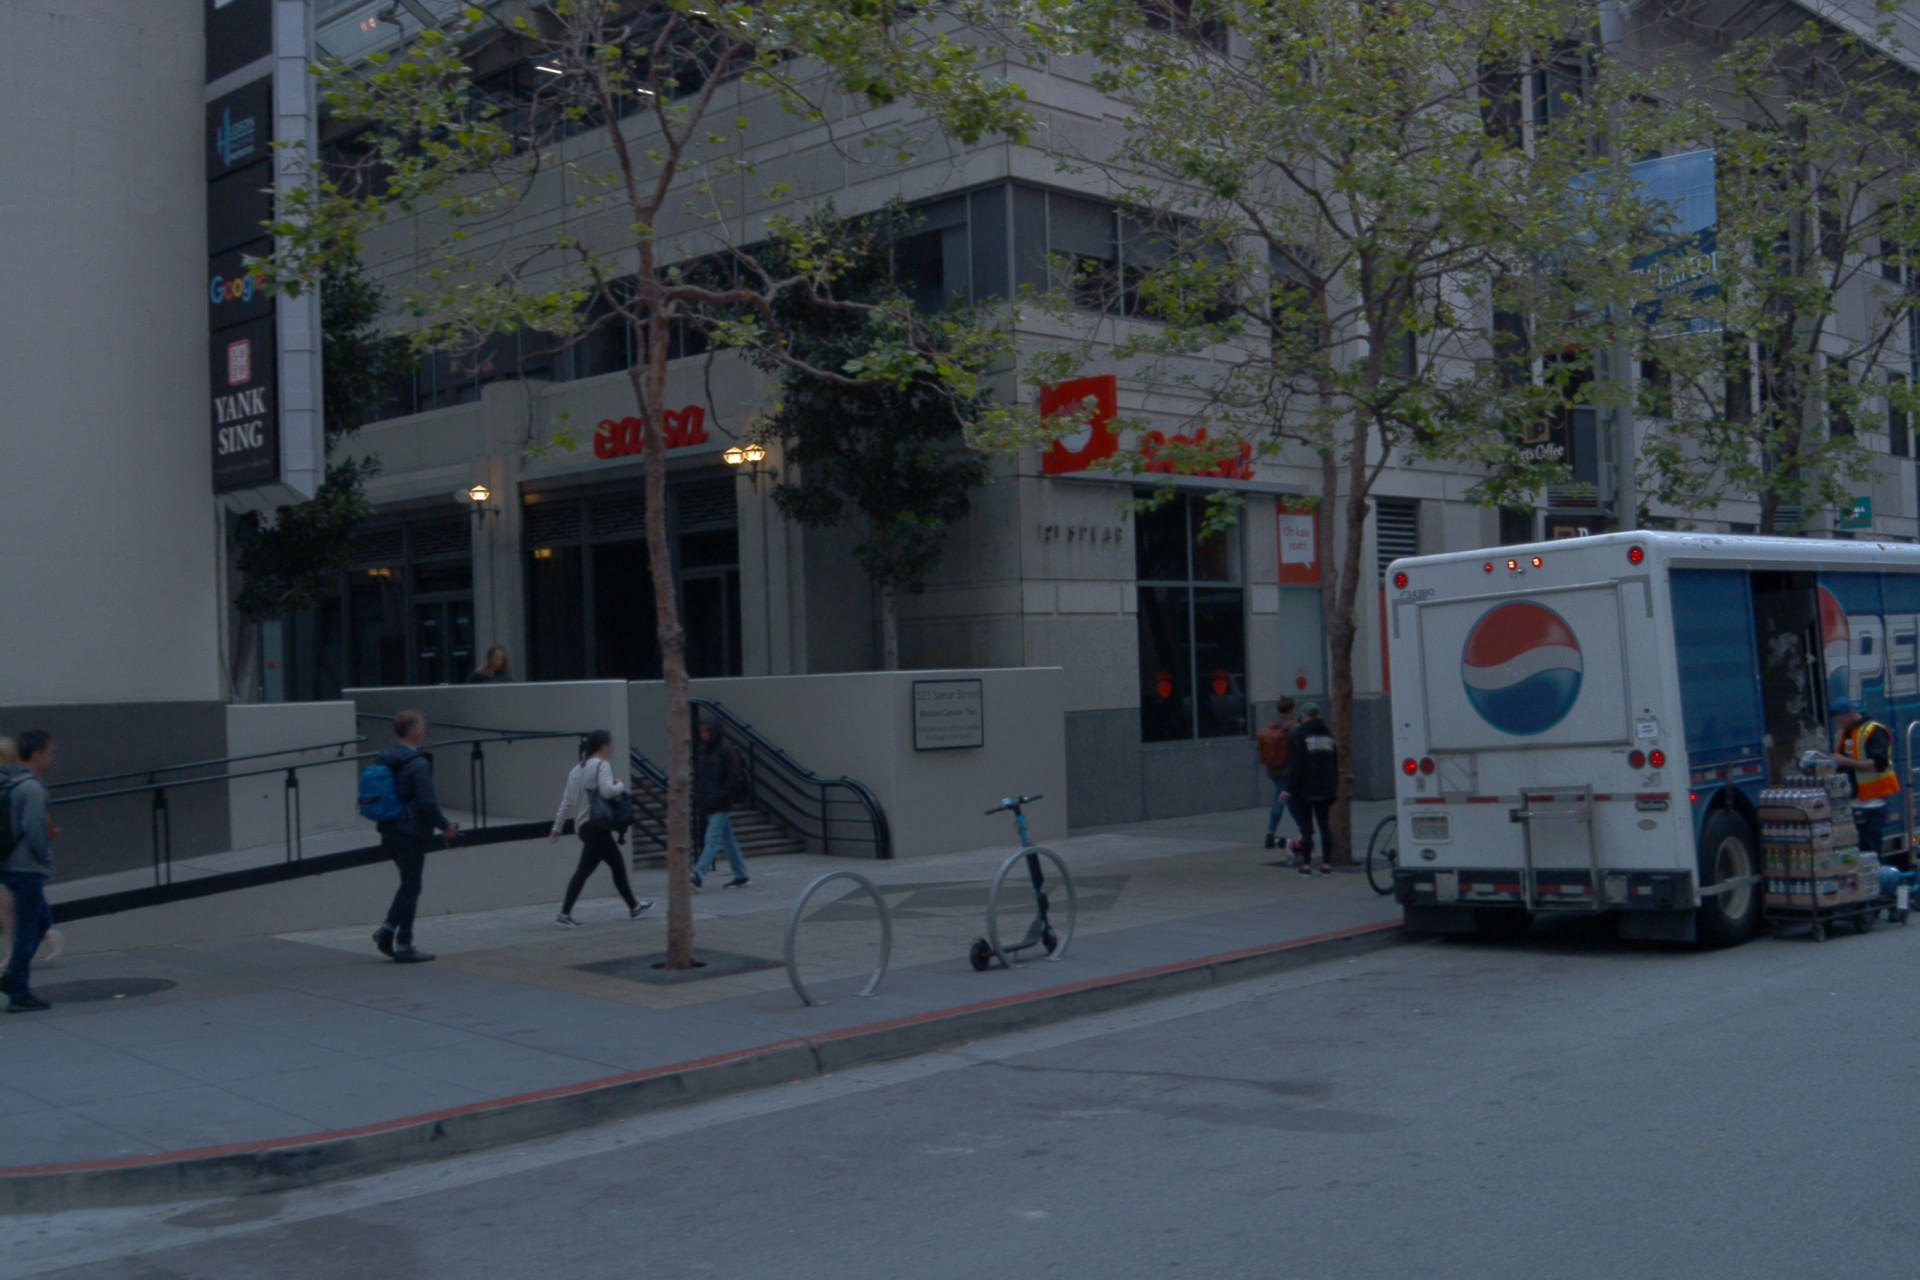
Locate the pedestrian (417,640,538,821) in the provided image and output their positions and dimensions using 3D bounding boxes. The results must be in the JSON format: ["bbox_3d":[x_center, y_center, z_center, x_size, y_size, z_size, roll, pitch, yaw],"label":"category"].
[{"bbox_3d":[-4.990,0.909,21.342,0.892,1.800,0.833,0,1,39],"label":"pedestrian"}]

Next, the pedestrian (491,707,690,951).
[{"bbox_3d":[-2.945,1.463,16.469,1.198,1.780,1.017,-1,1,-42],"label":"pedestrian"}]

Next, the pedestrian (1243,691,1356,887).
[{"bbox_3d":[3.169,1.372,19.306,0.758,1.750,0.755,0,1,-23],"label":"pedestrian"}]

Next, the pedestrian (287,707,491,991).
[{"bbox_3d":[-4.042,1.433,14.626,0.917,1.860,1.056,1,1,43],"label":"pedestrian"}]

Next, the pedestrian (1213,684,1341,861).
[{"bbox_3d":[3.375,1.384,21.975,1.017,1.774,0.922,-1,1,-43],"label":"pedestrian"}]

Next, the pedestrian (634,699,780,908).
[{"bbox_3d":[-2.337,1.477,19.076,0.800,1.810,1.068,1,1,44],"label":"pedestrian"}]
